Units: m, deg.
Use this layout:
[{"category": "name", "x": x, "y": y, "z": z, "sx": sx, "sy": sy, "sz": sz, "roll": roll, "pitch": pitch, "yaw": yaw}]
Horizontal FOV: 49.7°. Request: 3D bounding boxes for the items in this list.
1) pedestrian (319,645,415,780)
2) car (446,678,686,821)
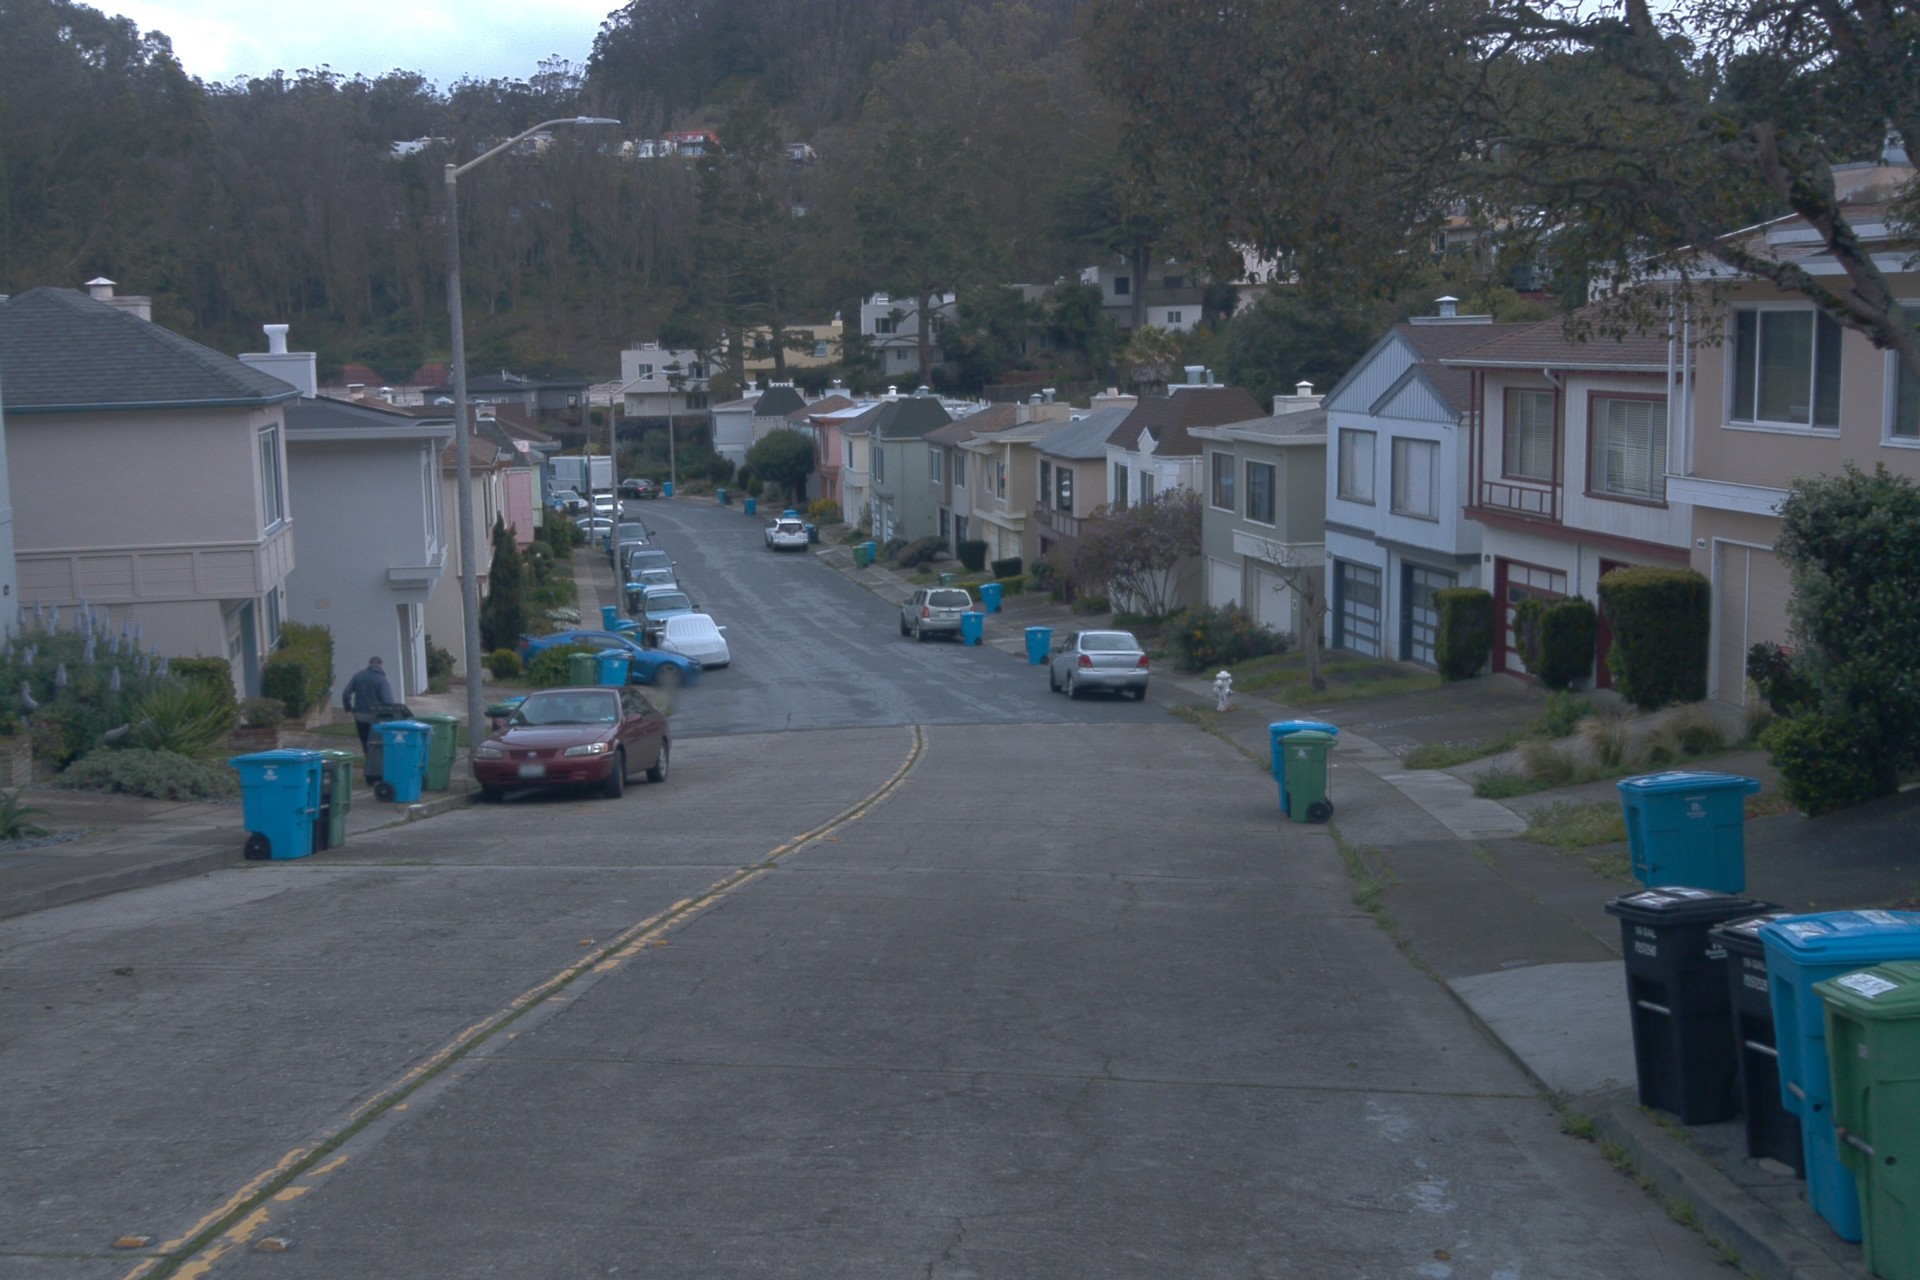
[{"category": "pedestrian", "x": -7.773, "y": 0.937, "z": 27.190, "sx": 1.000, "sy": 1.730, "sz": 1.000, "roll": 0, "pitch": 0, "yaw": -2}, {"category": "car", "x": -5.075, "y": 1.359, "z": 27.344, "sx": 2.007, "sy": 1.660, "sz": 4.691, "roll": 0, "pitch": 0, "yaw": 4}]
